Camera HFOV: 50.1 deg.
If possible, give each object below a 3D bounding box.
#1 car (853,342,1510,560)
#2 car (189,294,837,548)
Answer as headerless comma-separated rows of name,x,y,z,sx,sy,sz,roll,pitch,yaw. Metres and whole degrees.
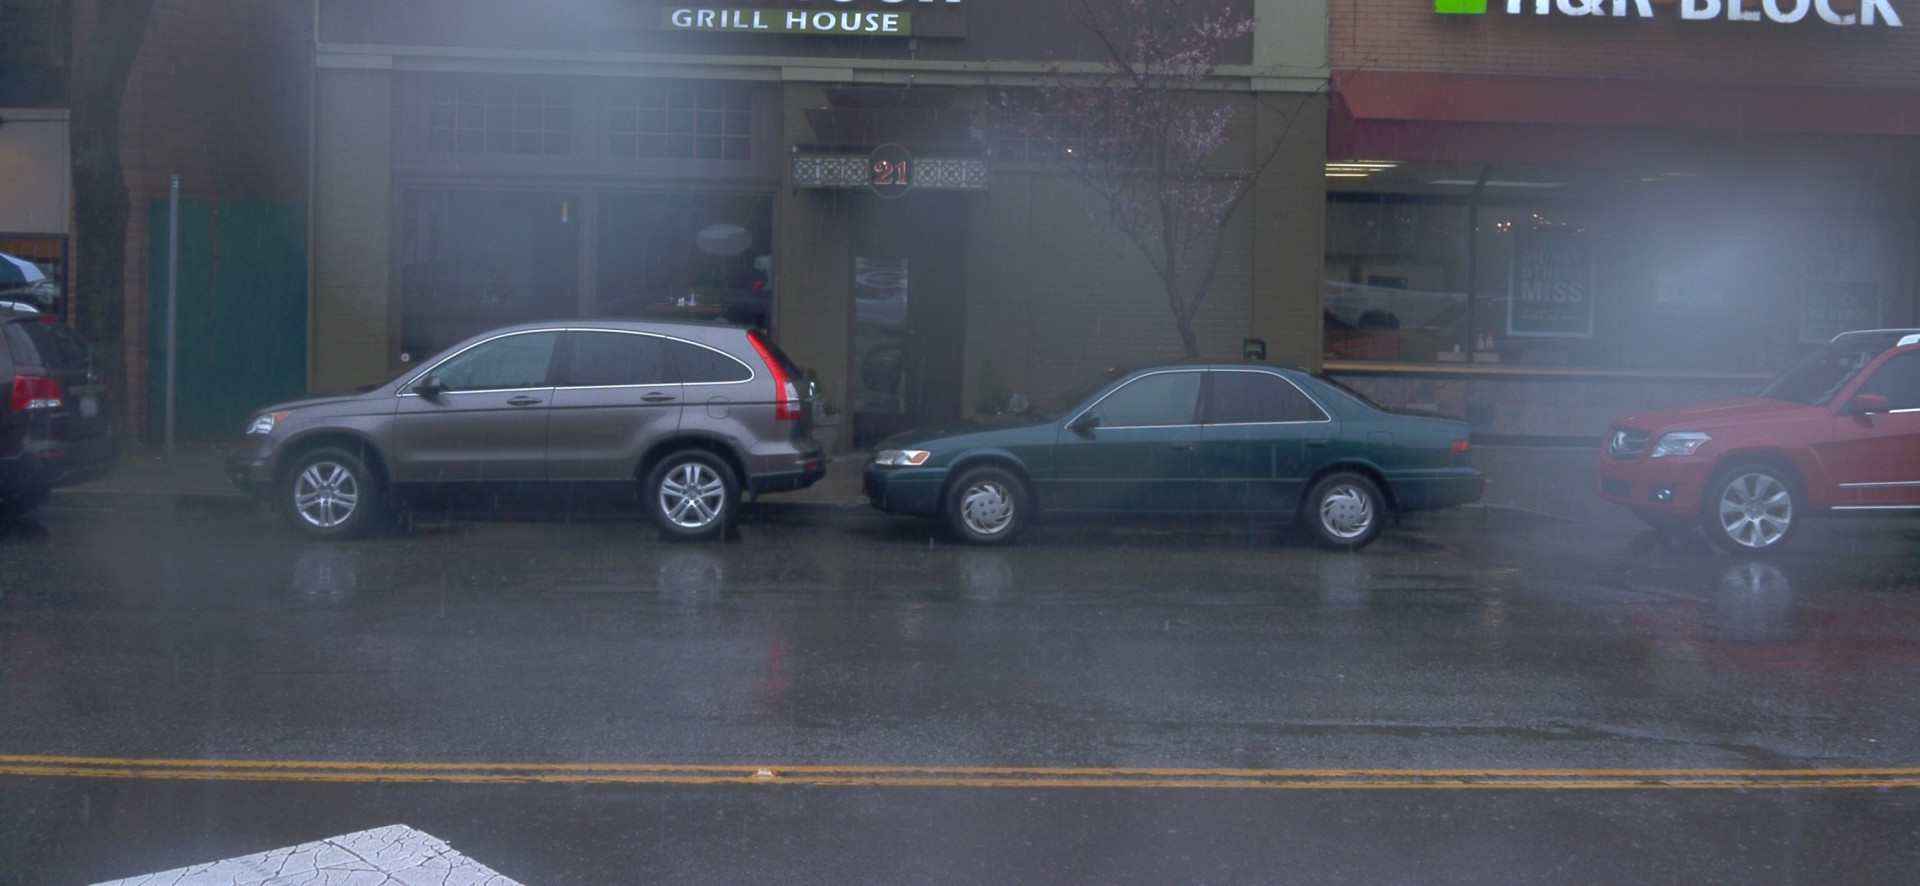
car,1.593,0.016,15.965,4.796,1.414,1.988,1,5,-2
car,-3.281,-0.218,15.797,4.605,1.724,1.918,0,4,-5
